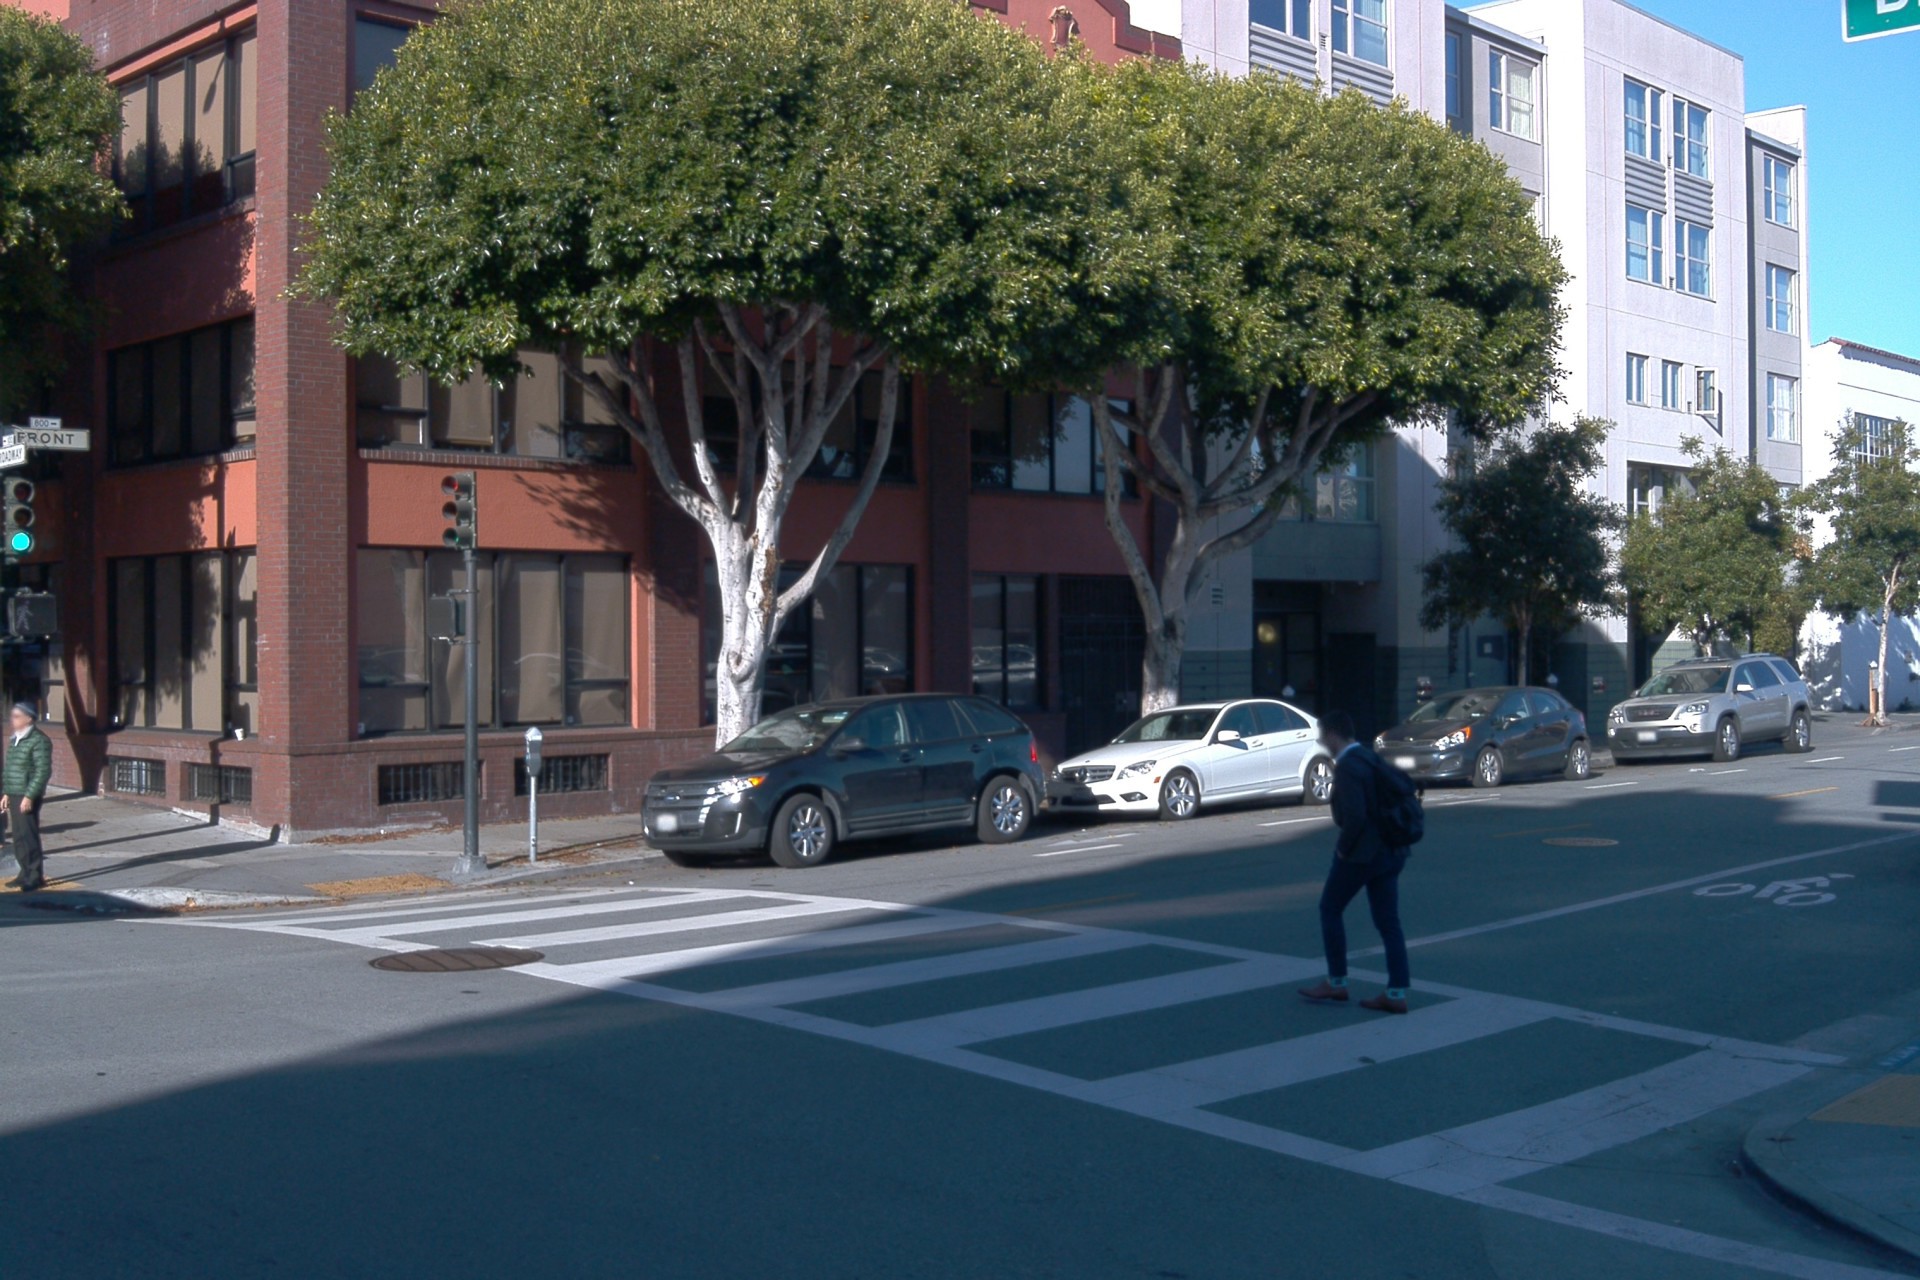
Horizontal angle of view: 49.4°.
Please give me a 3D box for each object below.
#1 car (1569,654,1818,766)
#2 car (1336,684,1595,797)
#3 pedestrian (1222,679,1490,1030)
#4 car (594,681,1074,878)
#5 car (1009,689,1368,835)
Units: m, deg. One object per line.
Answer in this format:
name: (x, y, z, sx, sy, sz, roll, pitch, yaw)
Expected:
car: (12.869, 1.166, 36.417, 2.286, 1.800, 4.846, 0, 0, 44)
car: (7.497, 1.426, 30.741, 1.962, 1.500, 3.893, 0, 0, 45)
pedestrian: (2.296, 1.189, 12.142, 1.276, 1.900, 0.828, 0, 0, 44)
car: (-1.222, 1.354, 21.985, 2.184, 1.790, 4.813, 0, 0, 45)
car: (2.954, 1.453, 26.271, 4.602, 1.620, 2.045, 1, 0, -45)
